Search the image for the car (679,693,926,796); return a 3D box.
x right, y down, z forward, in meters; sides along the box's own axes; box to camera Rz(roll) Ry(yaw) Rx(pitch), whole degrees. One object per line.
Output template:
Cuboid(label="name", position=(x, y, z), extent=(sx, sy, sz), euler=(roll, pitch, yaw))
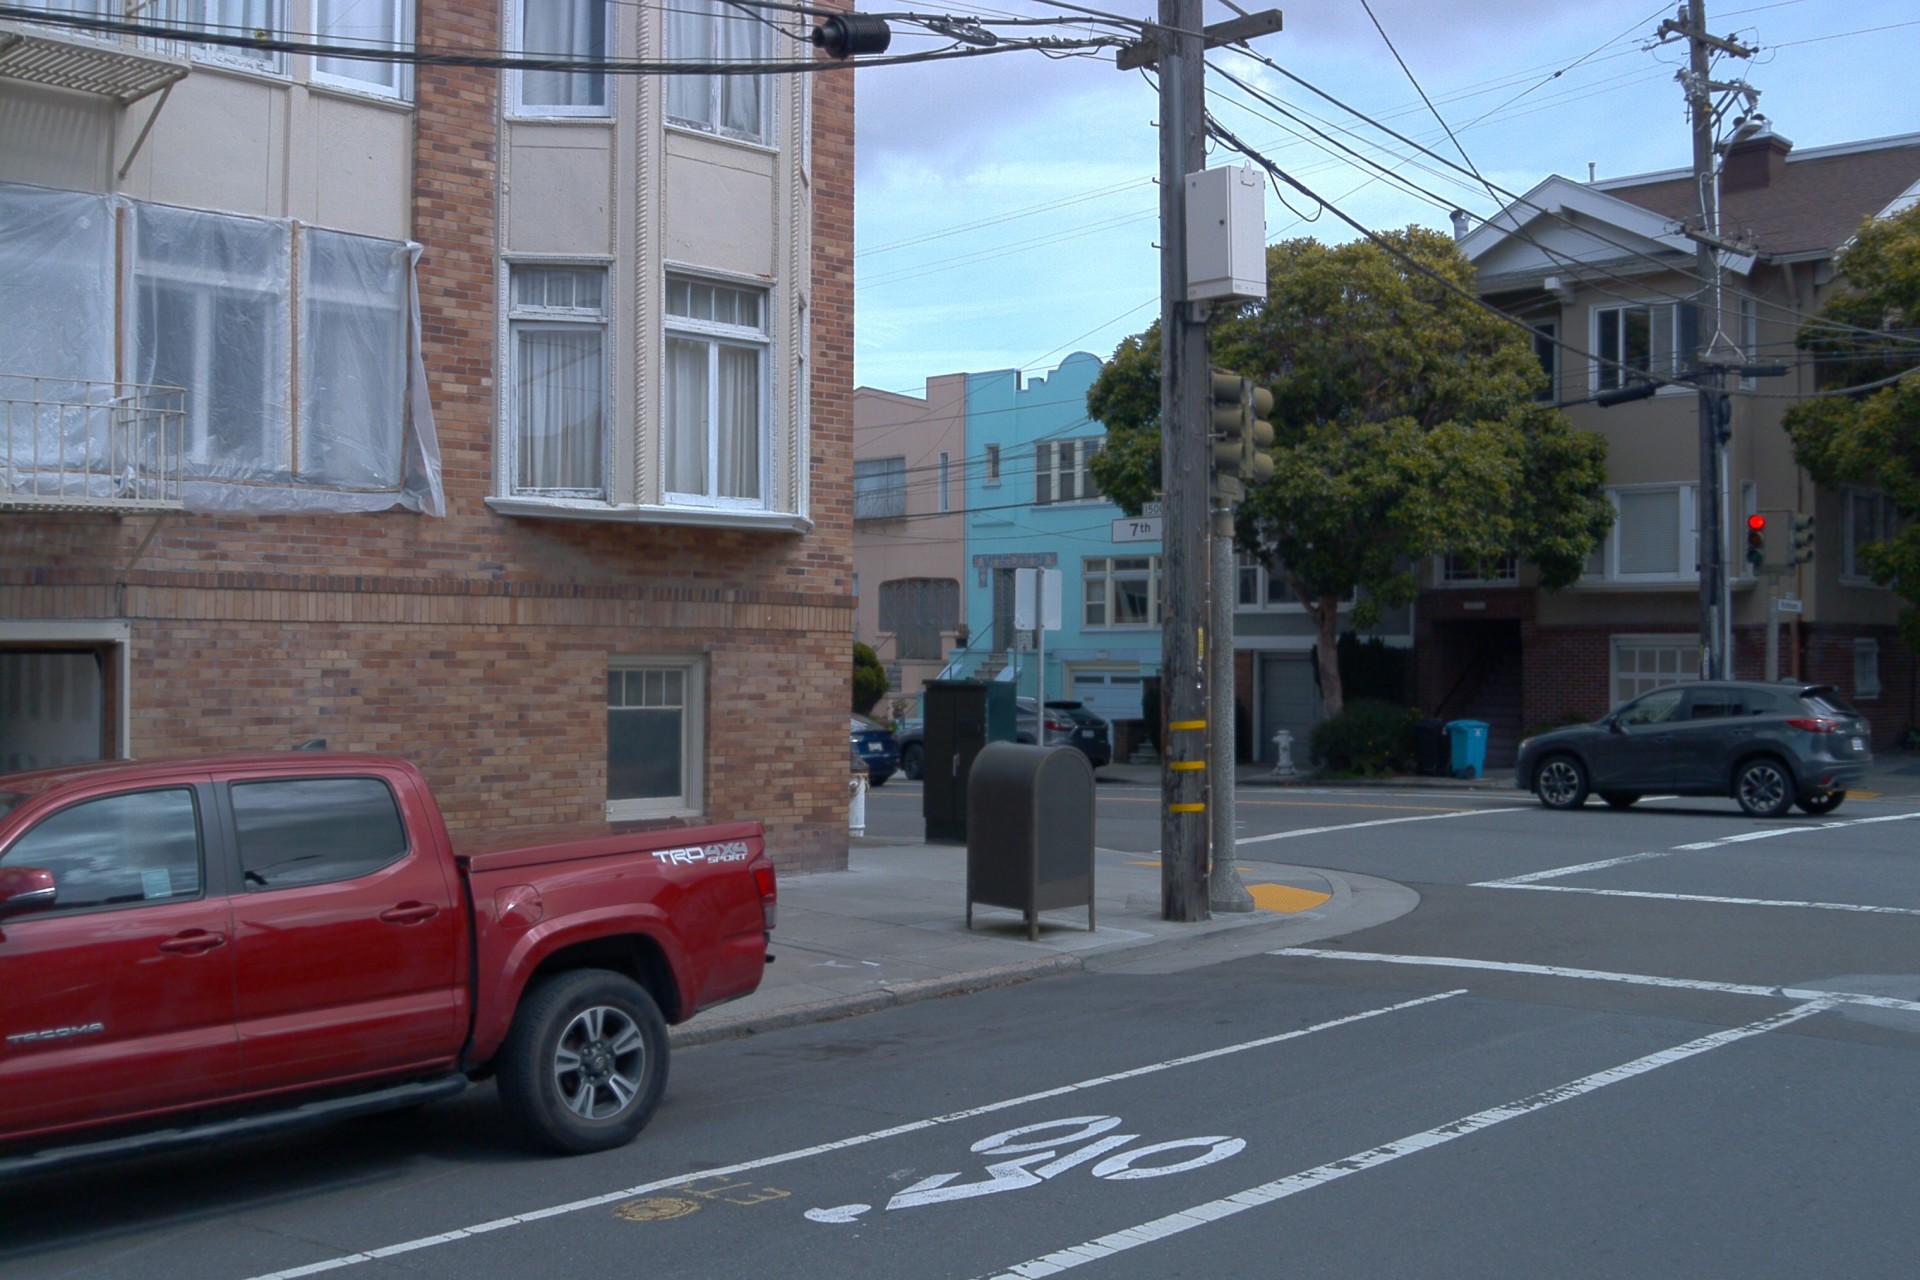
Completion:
Cuboid(label="car", position=(-2.955, 1.859, 37.675), extent=(2.012, 1.600, 4.598), euler=(0, 1, -45))

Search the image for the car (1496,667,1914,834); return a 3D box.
Cuboid(label="car", position=(9.245, 1.289, 25.702), extent=(4.480, 1.780, 2.008), euler=(1, 1, 45))
